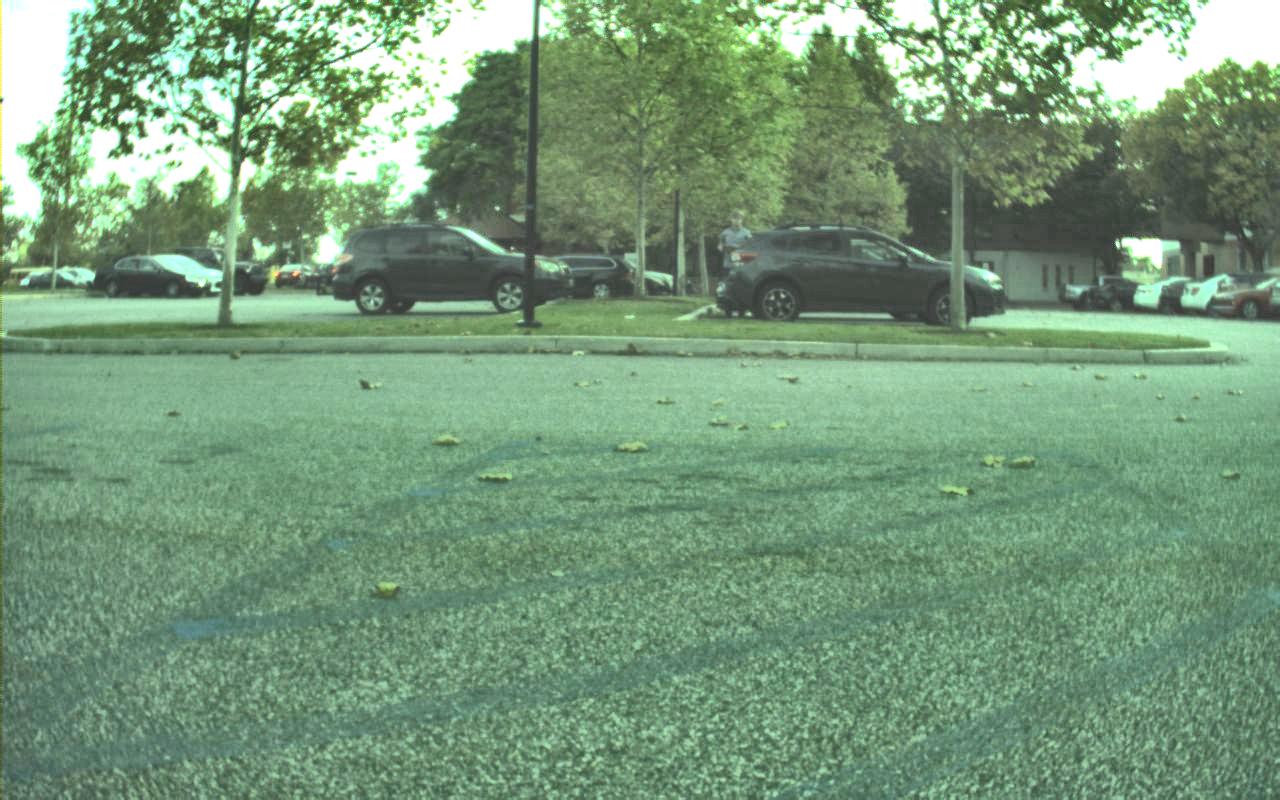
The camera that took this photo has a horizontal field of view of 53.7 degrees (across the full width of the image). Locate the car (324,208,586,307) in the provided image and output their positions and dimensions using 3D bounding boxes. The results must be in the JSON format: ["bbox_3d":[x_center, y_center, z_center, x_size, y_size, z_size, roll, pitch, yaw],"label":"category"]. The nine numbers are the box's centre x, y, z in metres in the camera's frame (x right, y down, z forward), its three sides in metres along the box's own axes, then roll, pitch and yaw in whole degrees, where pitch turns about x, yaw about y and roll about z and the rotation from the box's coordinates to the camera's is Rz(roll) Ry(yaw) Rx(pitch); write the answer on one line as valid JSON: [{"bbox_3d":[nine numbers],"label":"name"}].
[{"bbox_3d":[-3.465,-2.621,23.501,4.603,1.655,1.976,1,1,6],"label":"car"}]

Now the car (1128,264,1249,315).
[{"bbox_3d":[20.869,-4.079,44.321,4.569,1.719,2.001,1,1,9],"label":"car"}]

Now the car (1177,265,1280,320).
[{"bbox_3d":[20.662,-3.561,39.192,4.451,1.687,1.958,1,1,10],"label":"car"}]

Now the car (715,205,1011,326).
[{"bbox_3d":[3.457,-2.073,19.727,4.534,1.721,1.961,1,1,3],"label":"car"}]

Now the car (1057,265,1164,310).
[{"bbox_3d":[22.490,-5.262,56.961,4.998,1.917,2.103,1,1,6],"label":"car"}]
